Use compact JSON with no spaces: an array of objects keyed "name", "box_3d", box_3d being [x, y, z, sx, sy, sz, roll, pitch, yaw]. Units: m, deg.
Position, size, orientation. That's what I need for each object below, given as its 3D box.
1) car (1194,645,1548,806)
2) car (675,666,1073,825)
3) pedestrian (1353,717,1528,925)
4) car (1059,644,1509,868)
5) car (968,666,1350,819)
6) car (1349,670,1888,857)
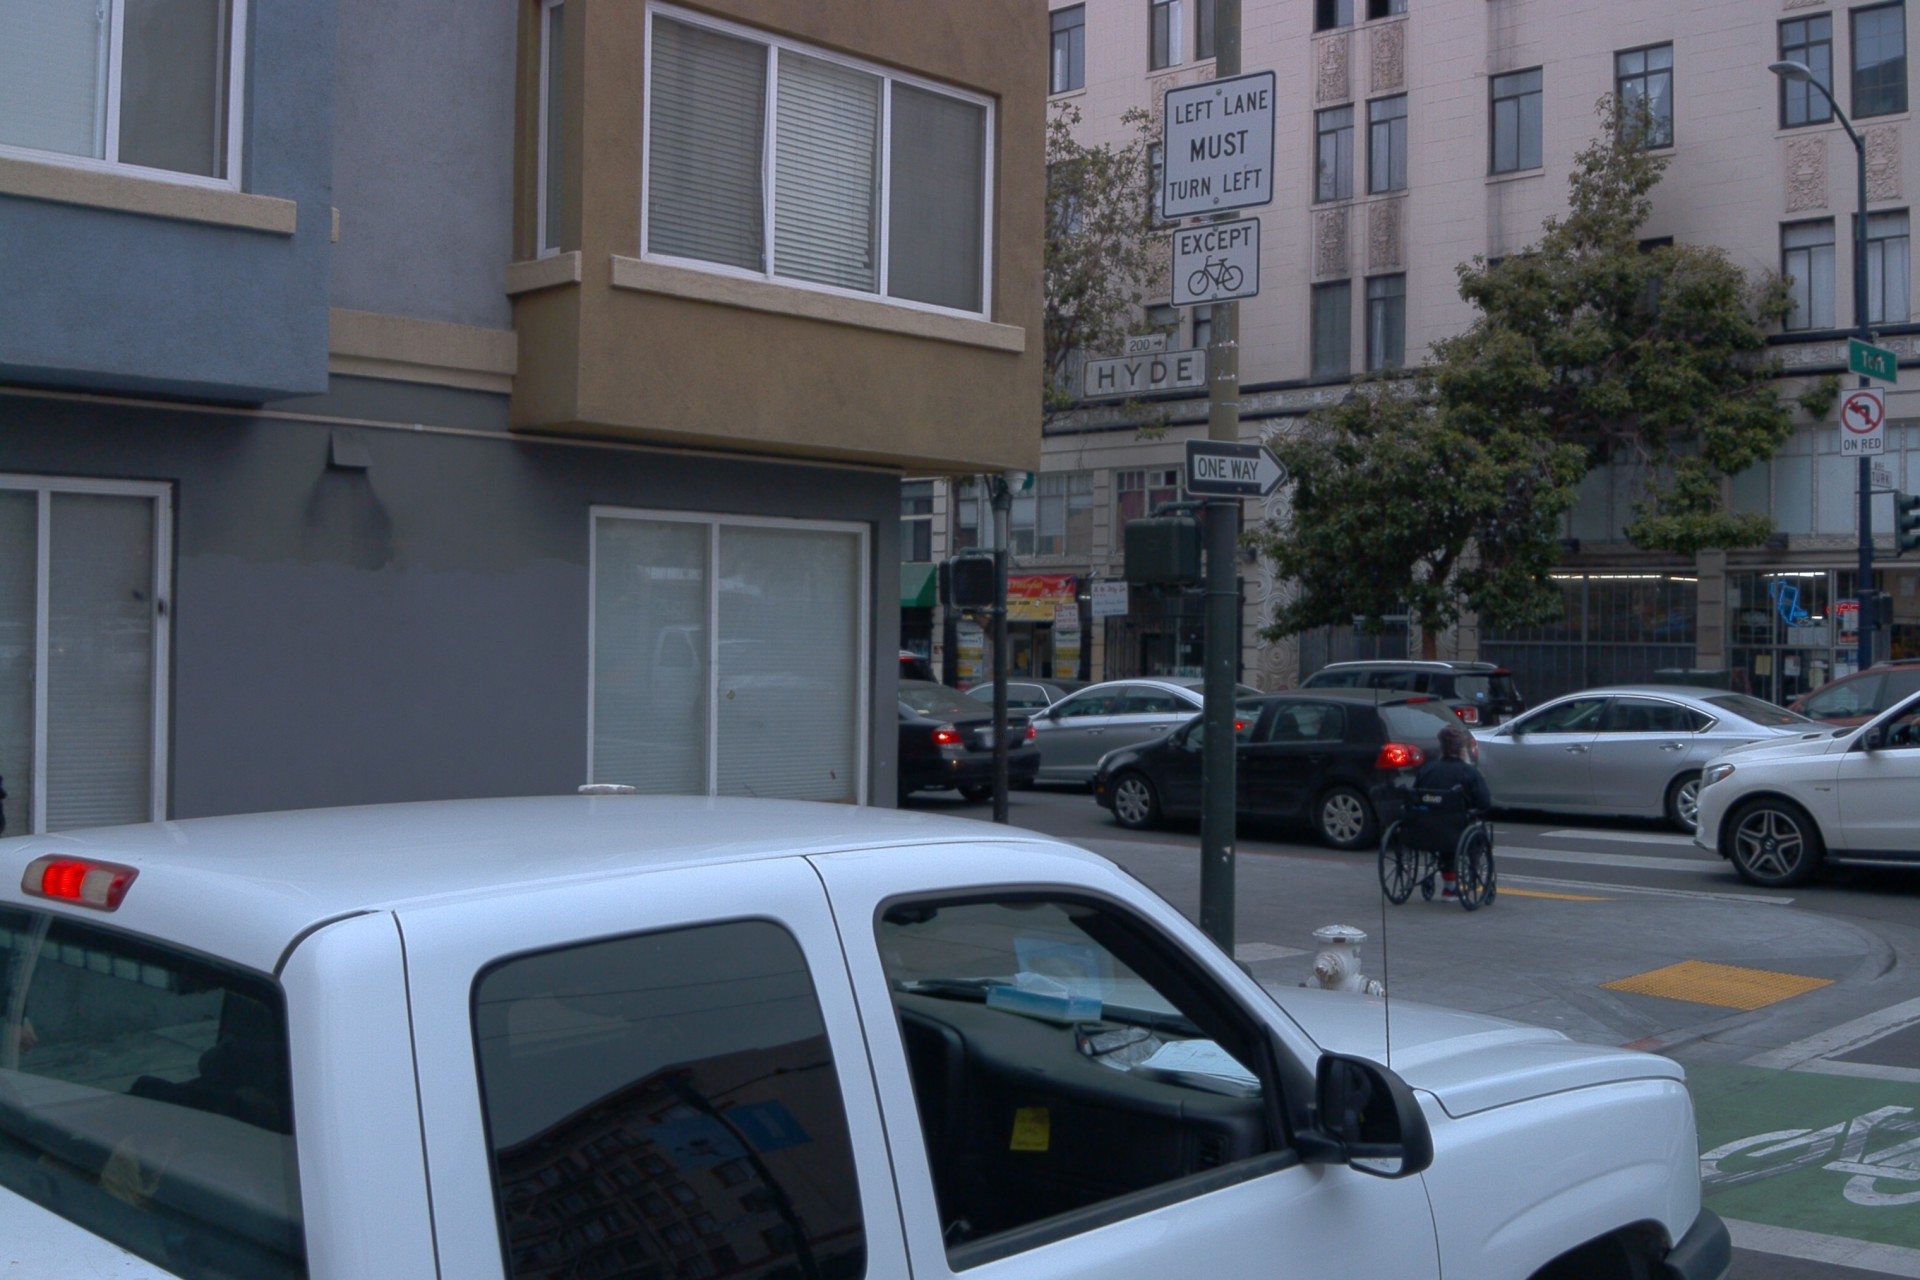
[{"name":"car","box_3d":[5.350,1.041,27.236,1.925,1.870,4.231,-1,1,-44]},{"name":"car","box_3d":[-1.131,1.187,25.078,4.803,1.600,2.070,1,1,43]},{"name":"pedestrian","box_3d":[3.503,1.286,15.017,0.883,1.370,1.026,1,1,38]},{"name":"car","box_3d":[3.185,1.054,20.880,1.871,1.950,4.194,-1,1,-45]},{"name":"car","box_3d":[2.403,1.196,25.847,1.939,1.600,4.599,-1,1,-44]},{"name":"car","box_3d":[6.684,1.170,21.358,4.909,1.550,2.056,1,1,45]}]
